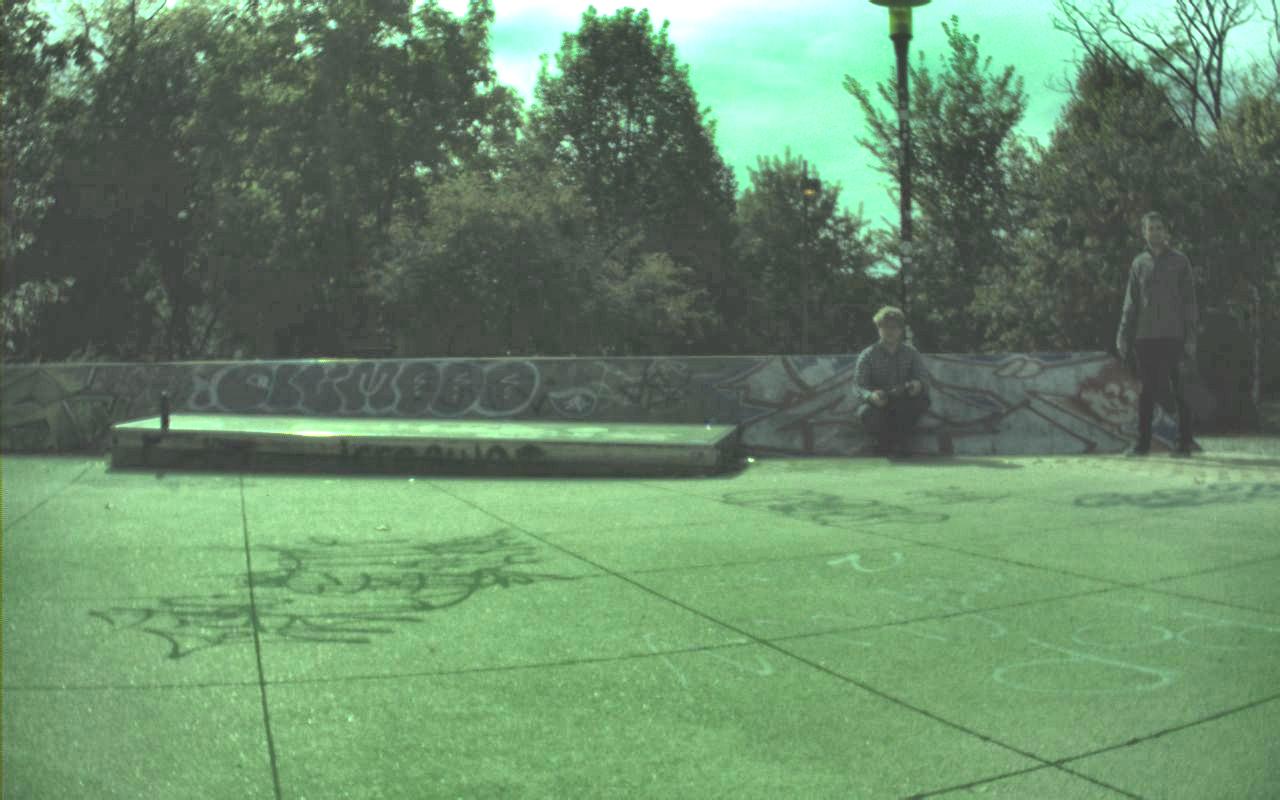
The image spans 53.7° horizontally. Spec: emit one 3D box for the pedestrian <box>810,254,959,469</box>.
[{"bbox_3d":[1.845,-0.280,9.302,0.867,1.517,0.837,1,0,33],"label":"pedestrian"}]

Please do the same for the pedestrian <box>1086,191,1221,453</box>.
[{"bbox_3d":[3.685,-0.524,8.381,0.800,1.774,0.805,1,0,42],"label":"pedestrian"}]

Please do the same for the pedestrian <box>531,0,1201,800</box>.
[{"bbox_3d":[0.261,0.101,1.668,0.791,1.719,0.791,0,0,-8],"label":"pedestrian"}]
